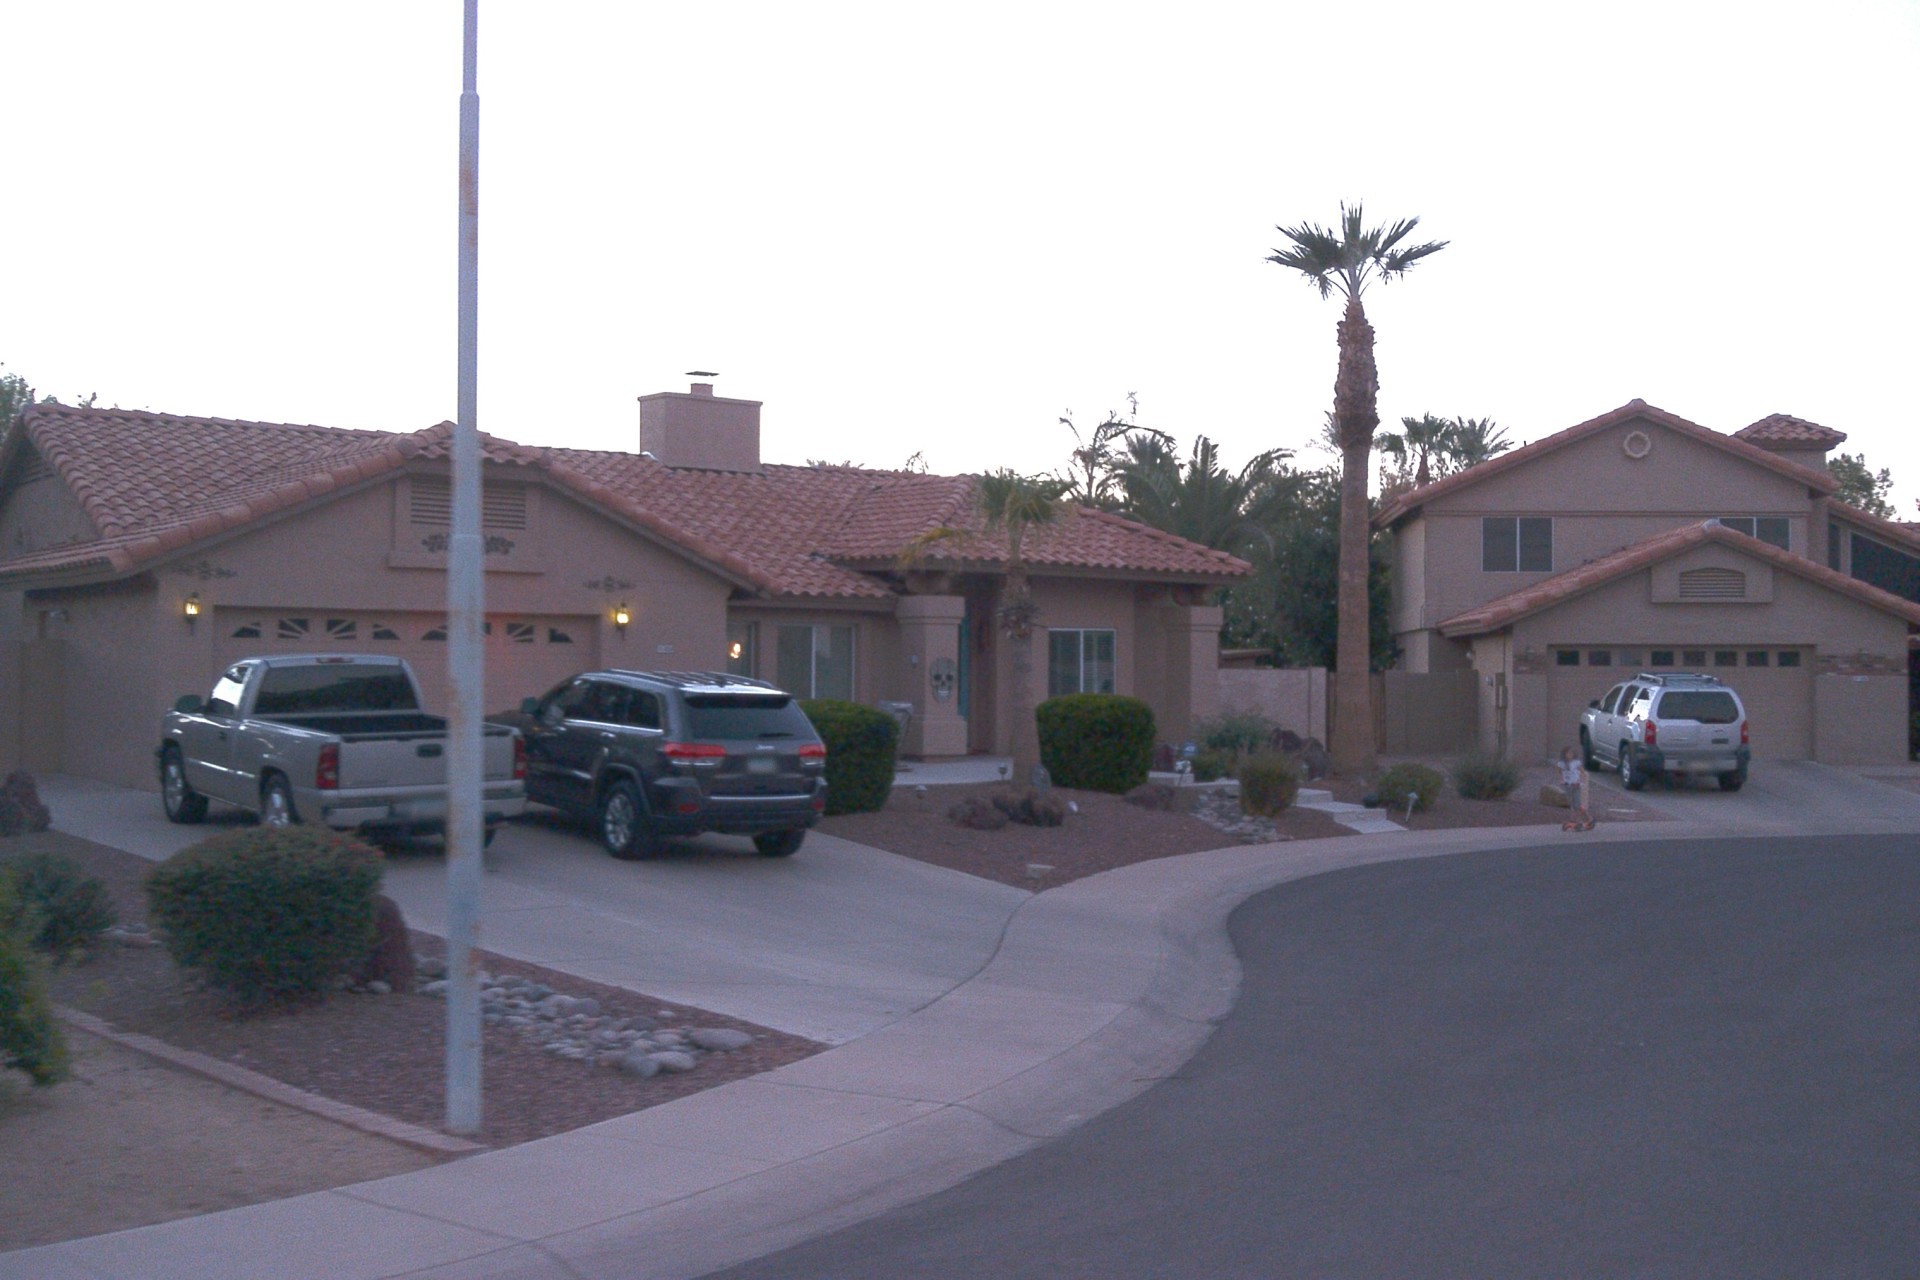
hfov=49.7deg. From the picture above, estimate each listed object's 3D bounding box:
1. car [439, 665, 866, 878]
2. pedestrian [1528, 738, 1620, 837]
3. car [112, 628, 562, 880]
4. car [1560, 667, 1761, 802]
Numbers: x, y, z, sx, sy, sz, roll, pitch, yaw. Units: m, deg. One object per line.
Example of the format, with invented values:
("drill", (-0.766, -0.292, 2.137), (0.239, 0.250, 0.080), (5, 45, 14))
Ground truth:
("car", (-3.260, 1.223, 21.180), (2.190, 1.860, 4.761), (1, -1, -39))
("pedestrian", (8.372, 1.994, 28.270), (1.099, 1.280, 0.644), (1, -1, -35))
("car", (-6.168, 0.964, 20.078), (2.426, 2.100, 5.137), (1, -1, -38))
("car", (11.707, 1.523, 35.024), (2.104, 2.070, 4.688), (1, -1, 4))
